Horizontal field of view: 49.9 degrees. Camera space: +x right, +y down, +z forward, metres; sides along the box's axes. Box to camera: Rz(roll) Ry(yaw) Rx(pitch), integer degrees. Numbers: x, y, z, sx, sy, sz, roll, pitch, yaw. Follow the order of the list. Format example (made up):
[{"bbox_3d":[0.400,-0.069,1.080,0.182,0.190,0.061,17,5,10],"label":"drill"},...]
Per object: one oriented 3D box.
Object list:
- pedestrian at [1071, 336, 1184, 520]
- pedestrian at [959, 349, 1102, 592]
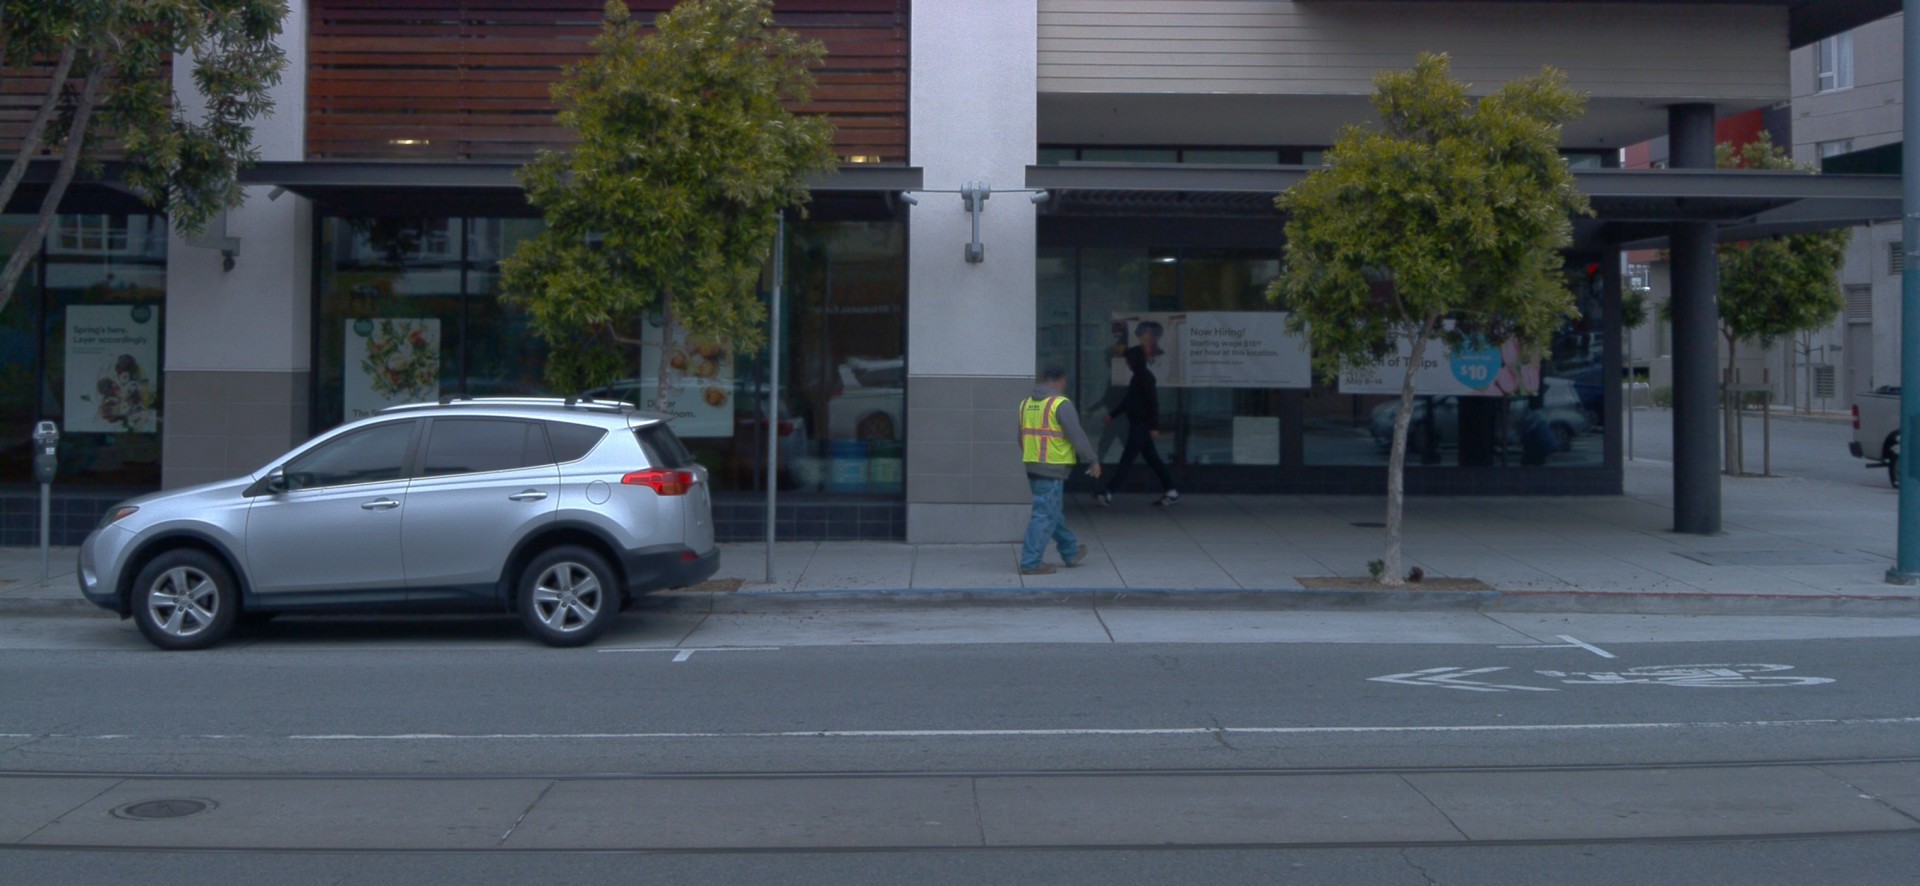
[{"bbox_3d":[1.854,-0.190,22.921,1.075,1.936,0.845,-1,2,-9],"label":"pedestrian"},{"bbox_3d":[0.587,0.194,17.235,0.862,1.877,0.856,-2,2,-32],"label":"pedestrian"}]
